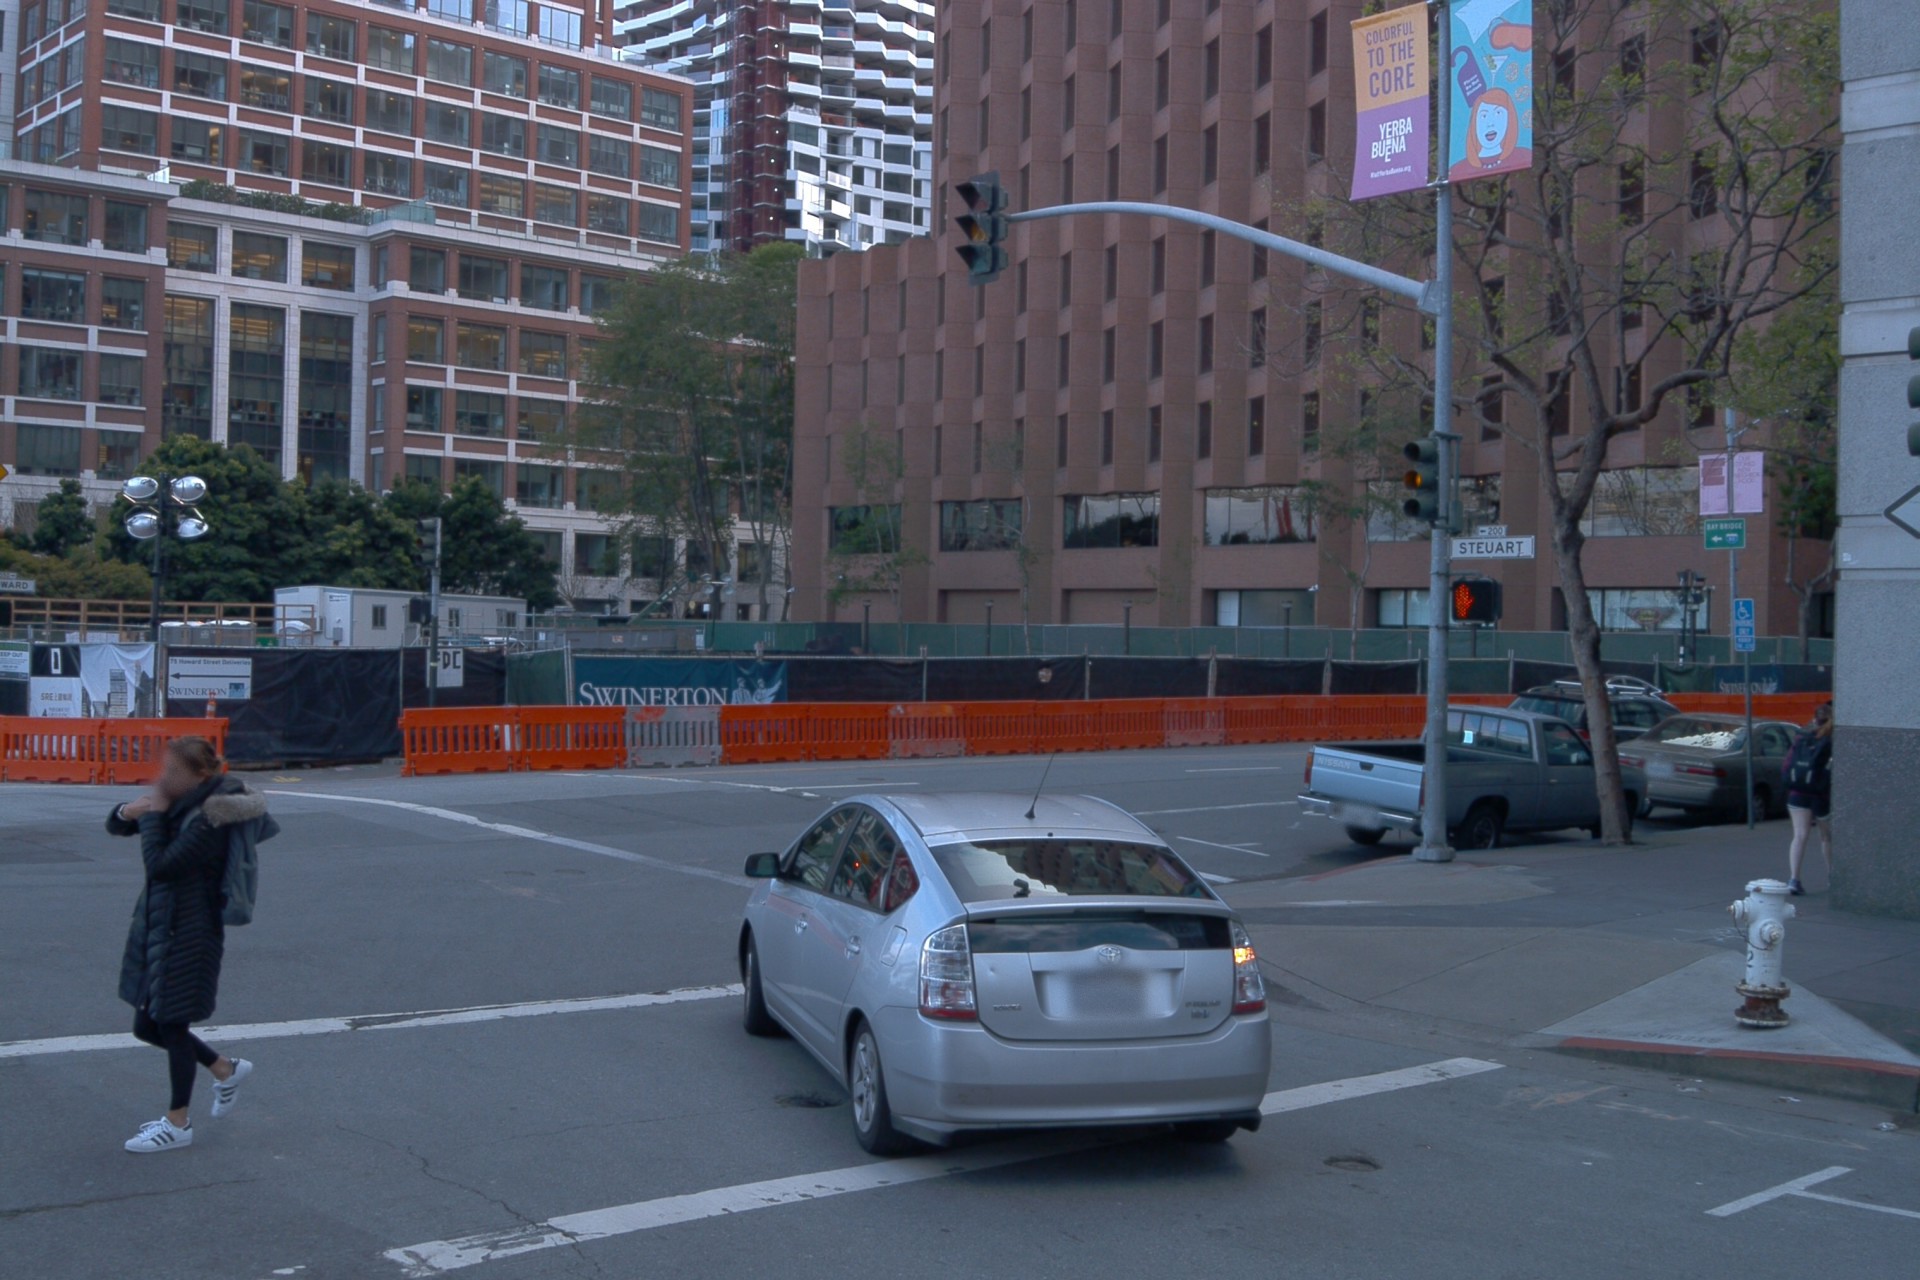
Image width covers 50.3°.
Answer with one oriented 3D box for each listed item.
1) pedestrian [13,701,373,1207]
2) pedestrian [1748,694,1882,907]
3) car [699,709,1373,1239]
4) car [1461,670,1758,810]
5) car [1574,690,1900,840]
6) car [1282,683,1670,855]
[{"bbox_3d":[-3.050,1.172,8.164,0.806,1.810,1.088,1,1,42],"label":"pedestrian"},{"bbox_3d":[7.011,1.285,16.767,0.720,1.650,0.898,1,1,43],"label":"pedestrian"},{"bbox_3d":[0.070,1.340,10.114,2.019,1.820,4.419,0,0,-16],"label":"car"},{"bbox_3d":[9.161,1.327,28.727,4.208,1.760,2.035,0,0,-40],"label":"car"},{"bbox_3d":[10.172,1.542,26.629,4.581,1.660,2.108,0,0,-42],"label":"car"},{"bbox_3d":[5.760,1.323,22.508,4.672,1.610,1.863,0,0,-42],"label":"car"}]
